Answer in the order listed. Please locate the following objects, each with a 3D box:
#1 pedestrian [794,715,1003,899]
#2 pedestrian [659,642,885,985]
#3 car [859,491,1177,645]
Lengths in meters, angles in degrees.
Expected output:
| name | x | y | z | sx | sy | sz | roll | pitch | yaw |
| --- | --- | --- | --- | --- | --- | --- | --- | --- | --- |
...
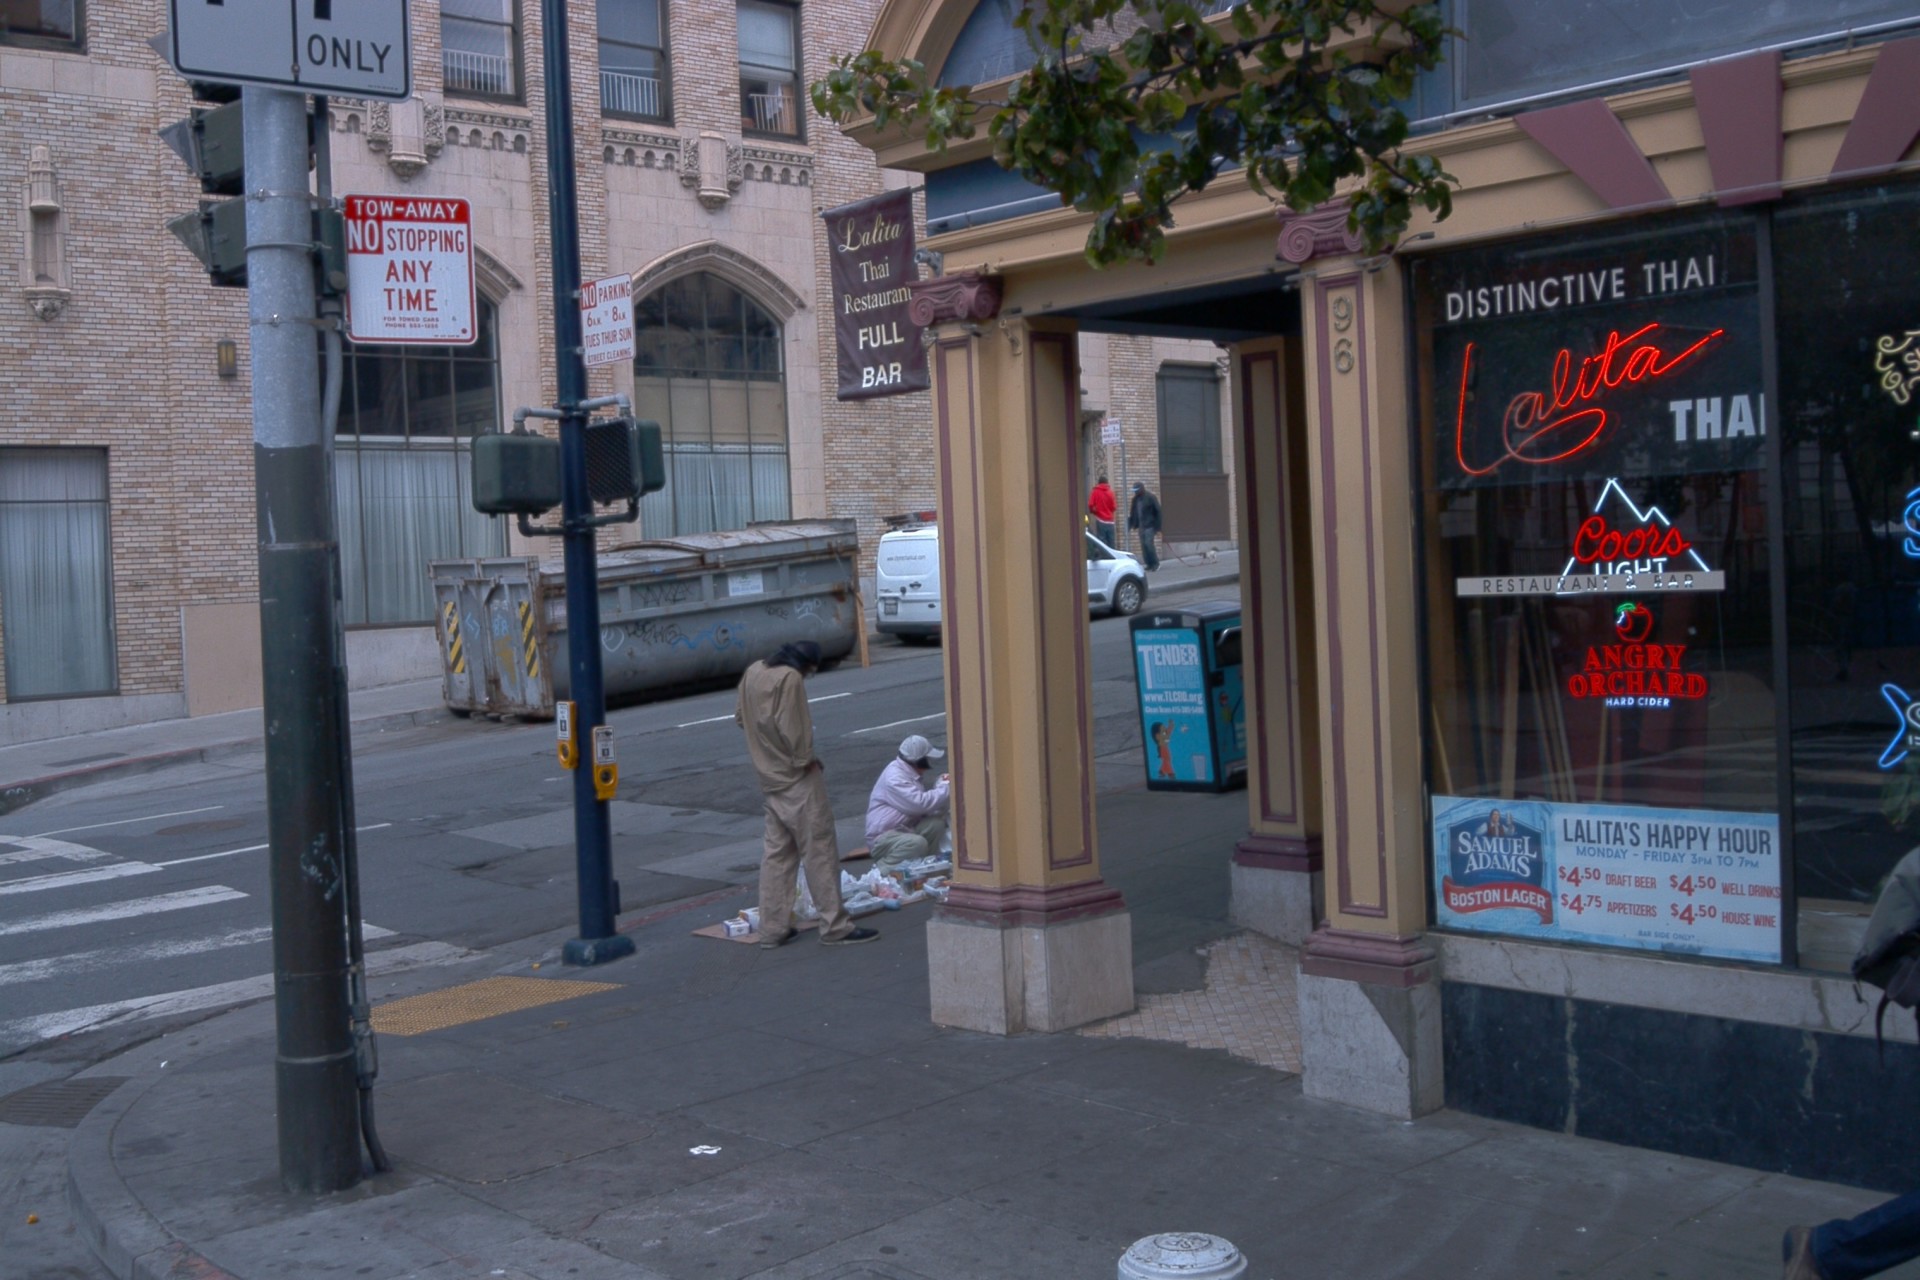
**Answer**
| name | x | y | z | sx | sy | sz | roll | pitch | yaw |
| --- | --- | --- | --- | --- | --- | --- | --- | --- | --- |
| pedestrian | -0.366 | 0.958 | 12.102 | 0.871 | 0.970 | 0.871 | 0 | 0 | -42 |
| pedestrian | -0.958 | 0.849 | 10.615 | 0.888 | 1.670 | 0.837 | 0 | 0 | 20 |
| car | 0.955 | -1.048 | 31.469 | 4.848 | 2.170 | 2.020 | -1 | 1 | -43 |
